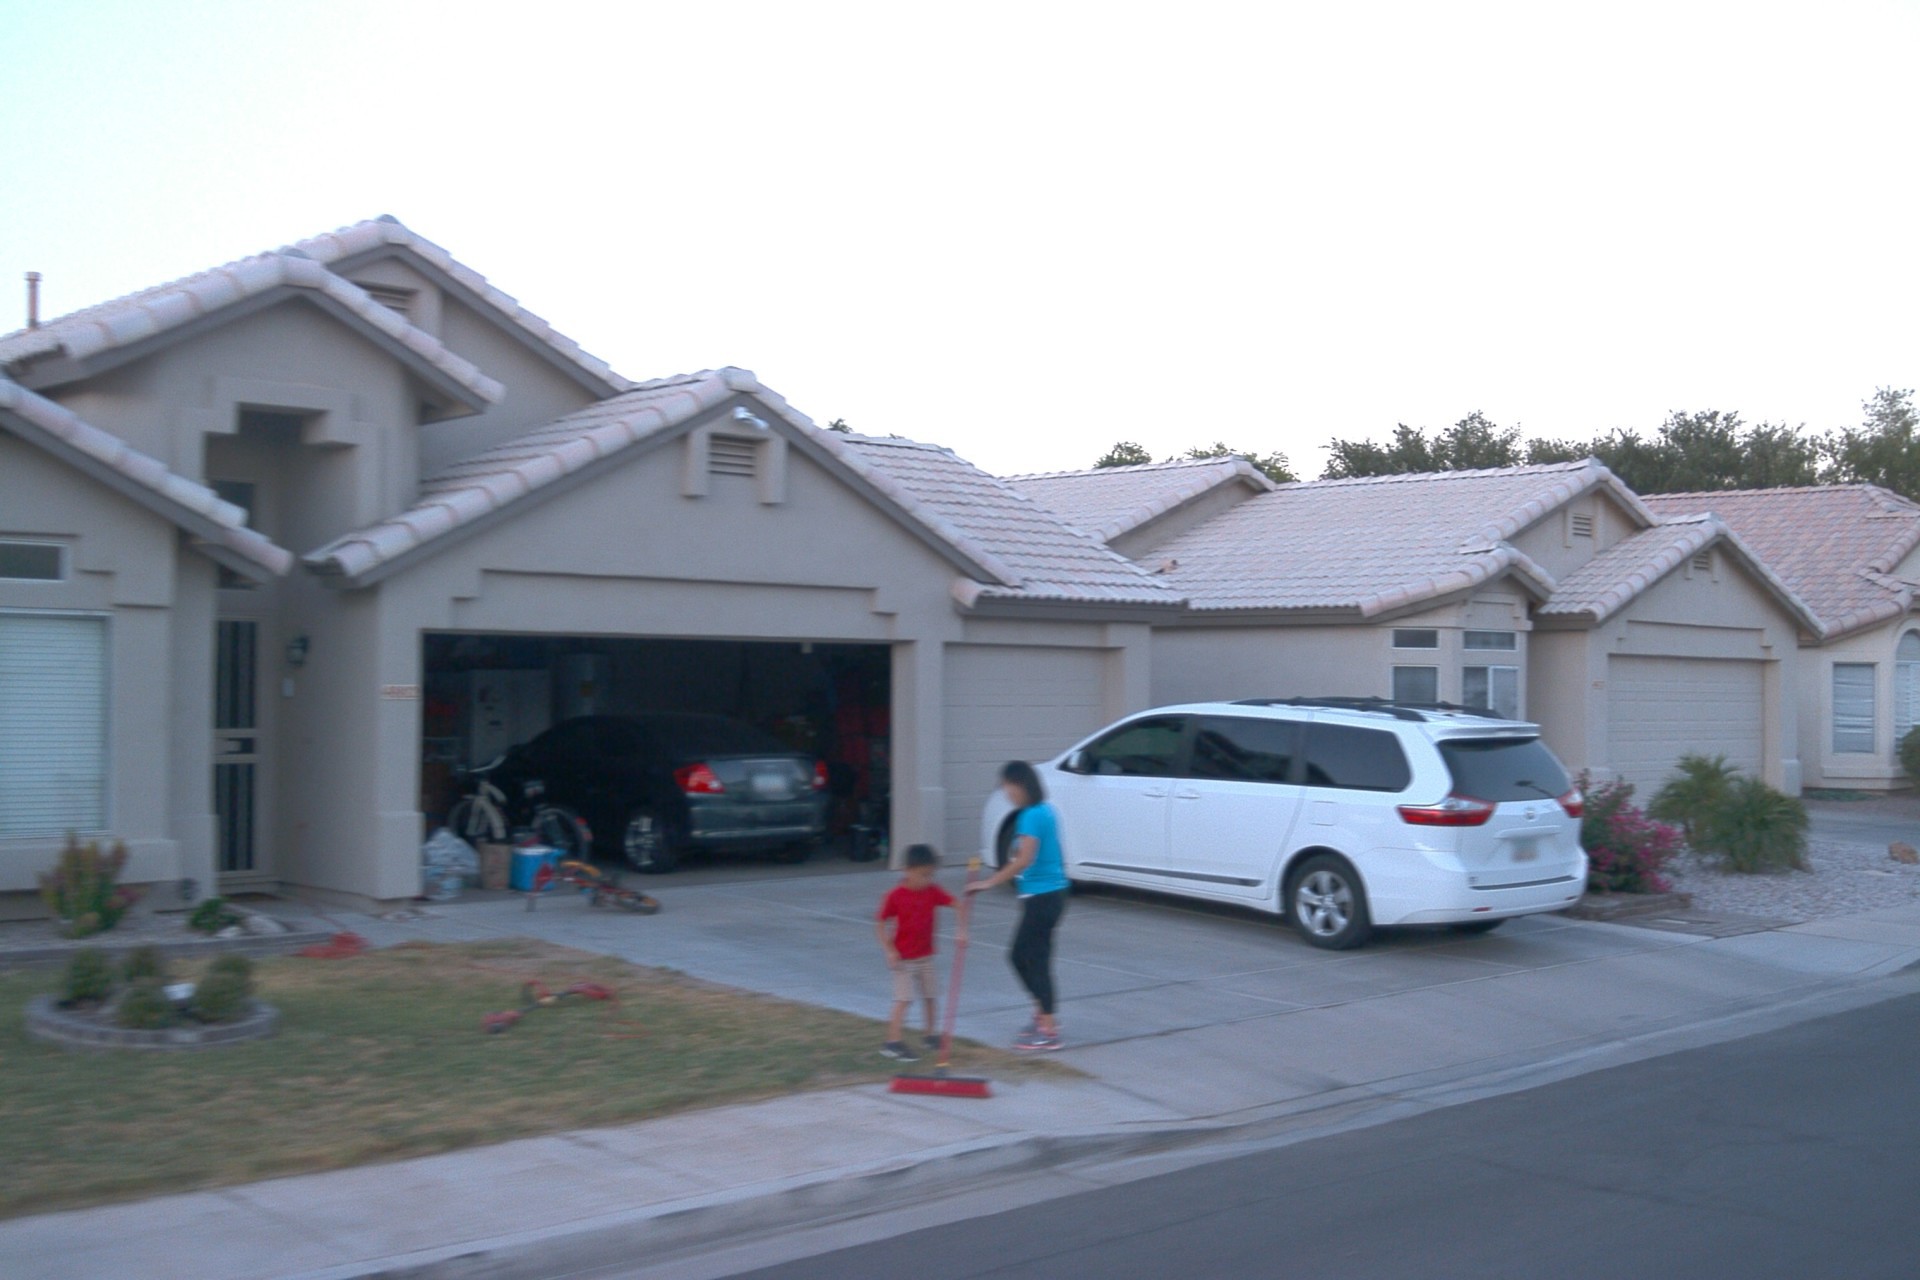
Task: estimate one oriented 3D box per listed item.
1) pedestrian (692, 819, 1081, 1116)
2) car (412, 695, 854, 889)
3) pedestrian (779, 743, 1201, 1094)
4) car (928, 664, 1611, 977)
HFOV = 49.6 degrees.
[{"bbox_3d":[-0.396,1.607,10.635,1.535,1.240,1.355,1,-1,-28],"label":"pedestrian"},{"bbox_3d":[-3.230,1.346,19.834,1.901,1.520,4.546,1,-1,-44],"label":"car"},{"bbox_3d":[0.122,1.354,10.752,1.683,1.570,1.512,1,-1,-24],"label":"pedestrian"},{"bbox_3d":[2.302,1.254,16.616,2.373,2.040,5.013,1,-1,-42],"label":"car"}]
